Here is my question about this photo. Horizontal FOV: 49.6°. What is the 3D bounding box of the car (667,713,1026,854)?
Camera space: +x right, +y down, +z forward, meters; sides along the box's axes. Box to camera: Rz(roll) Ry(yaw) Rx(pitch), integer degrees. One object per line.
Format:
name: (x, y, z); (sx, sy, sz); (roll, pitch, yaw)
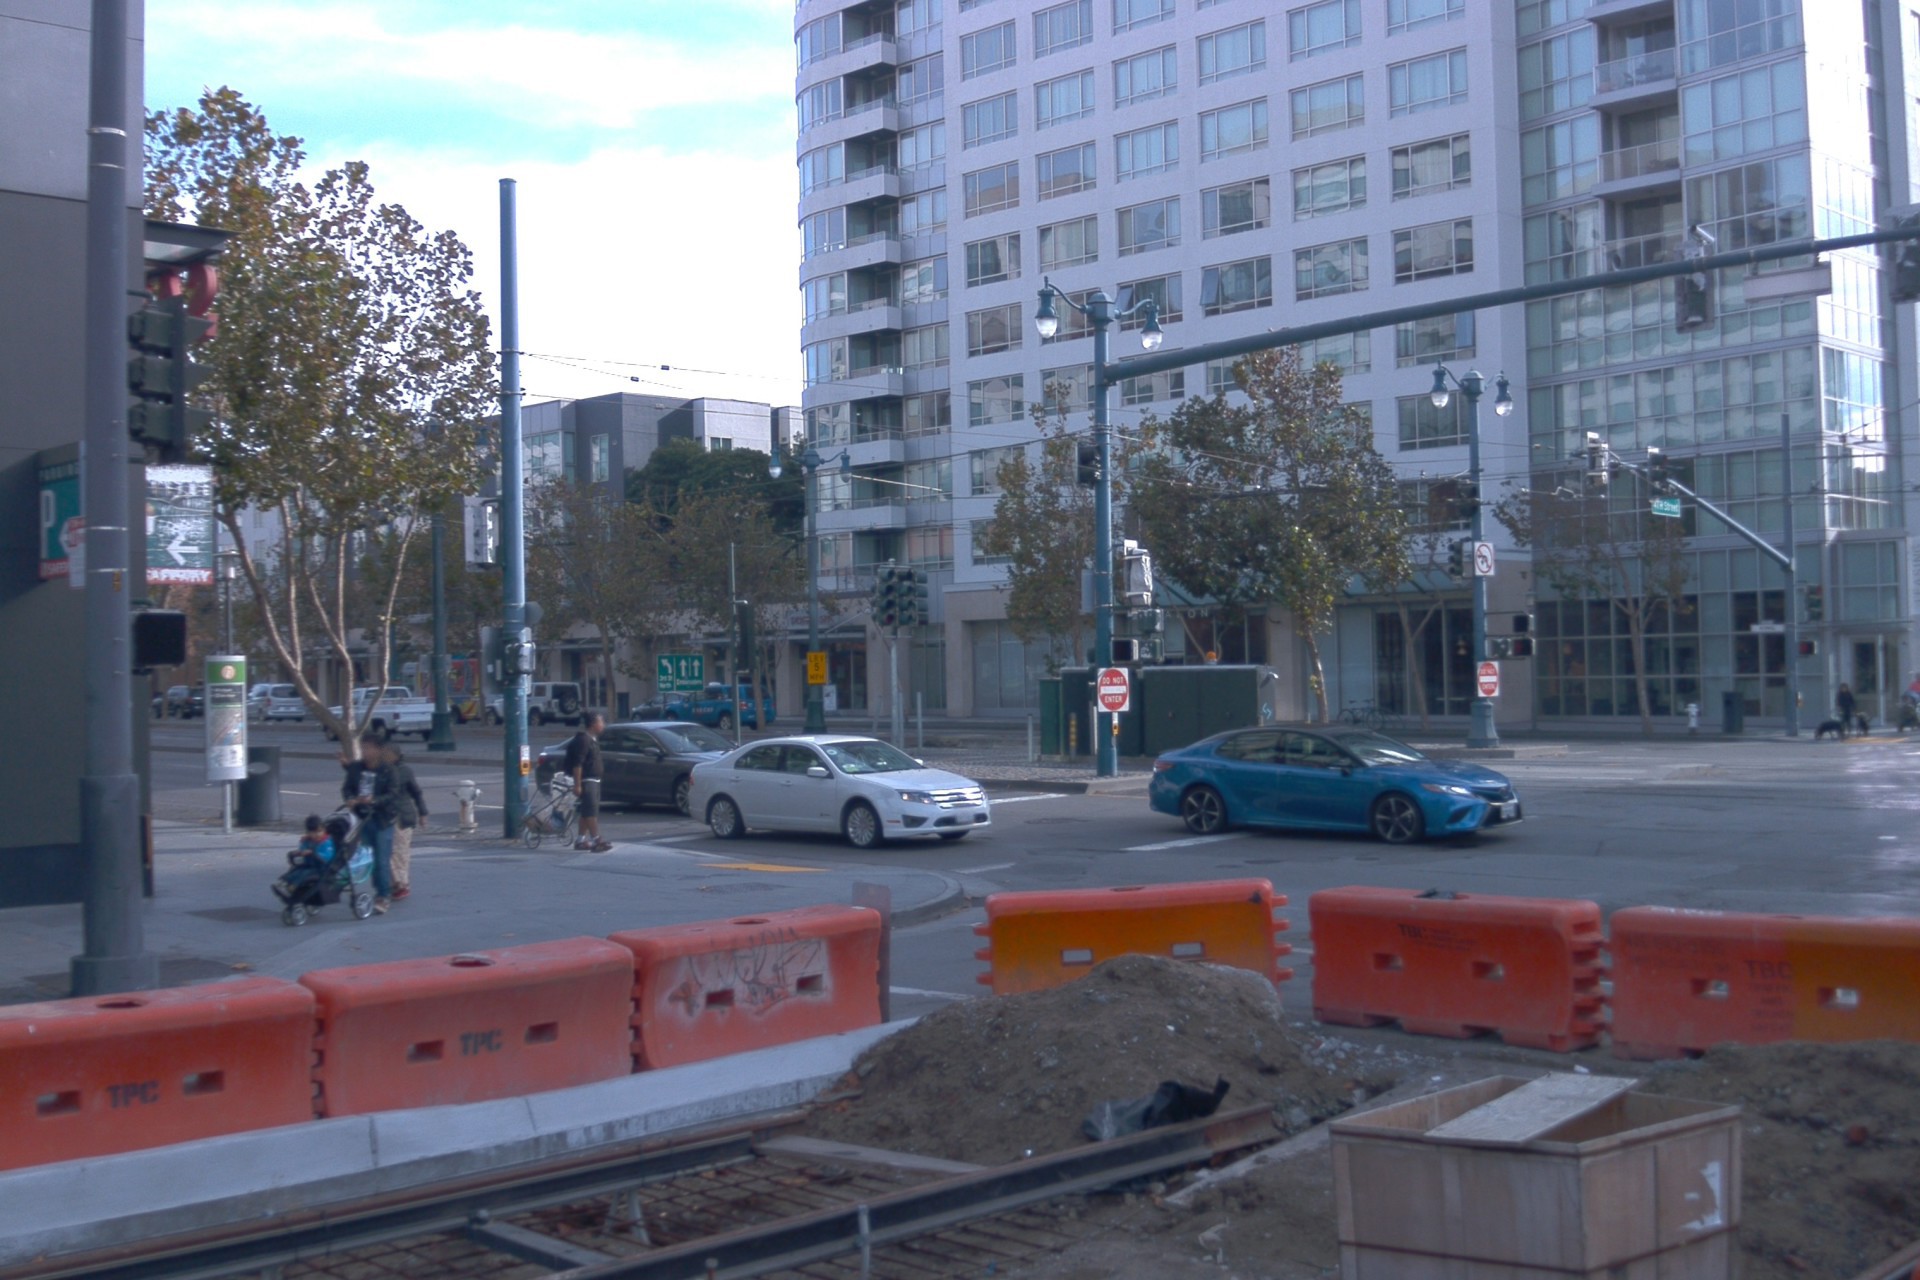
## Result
car: (-1.634, 1.869, 28.319); (4.934, 1.610, 2.118); (0, -1, 45)

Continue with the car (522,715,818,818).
car: (-4.811, 2.022, 34.086); (4.851, 1.427, 2.015); (0, -1, 39)

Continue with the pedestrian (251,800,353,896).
pedestrian: (-5.762, 1.812, 18.210); (0.485, 0.752, 0.722); (0, -1, 27)

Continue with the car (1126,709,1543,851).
car: (4.815, 1.750, 27.209); (5.007, 1.540, 2.135); (0, -1, 43)

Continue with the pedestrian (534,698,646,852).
pedestrian: (-4.594, 1.648, 25.793); (0.942, 1.830, 0.981); (0, -1, 34)

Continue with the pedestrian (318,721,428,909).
pedestrian: (-5.416, 1.599, 19.195); (0.746, 1.660, 0.769); (0, -1, 4)

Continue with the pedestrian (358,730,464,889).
pedestrian: (-5.281, 1.613, 20.012); (0.664, 1.460, 0.719); (0, -1, 28)
